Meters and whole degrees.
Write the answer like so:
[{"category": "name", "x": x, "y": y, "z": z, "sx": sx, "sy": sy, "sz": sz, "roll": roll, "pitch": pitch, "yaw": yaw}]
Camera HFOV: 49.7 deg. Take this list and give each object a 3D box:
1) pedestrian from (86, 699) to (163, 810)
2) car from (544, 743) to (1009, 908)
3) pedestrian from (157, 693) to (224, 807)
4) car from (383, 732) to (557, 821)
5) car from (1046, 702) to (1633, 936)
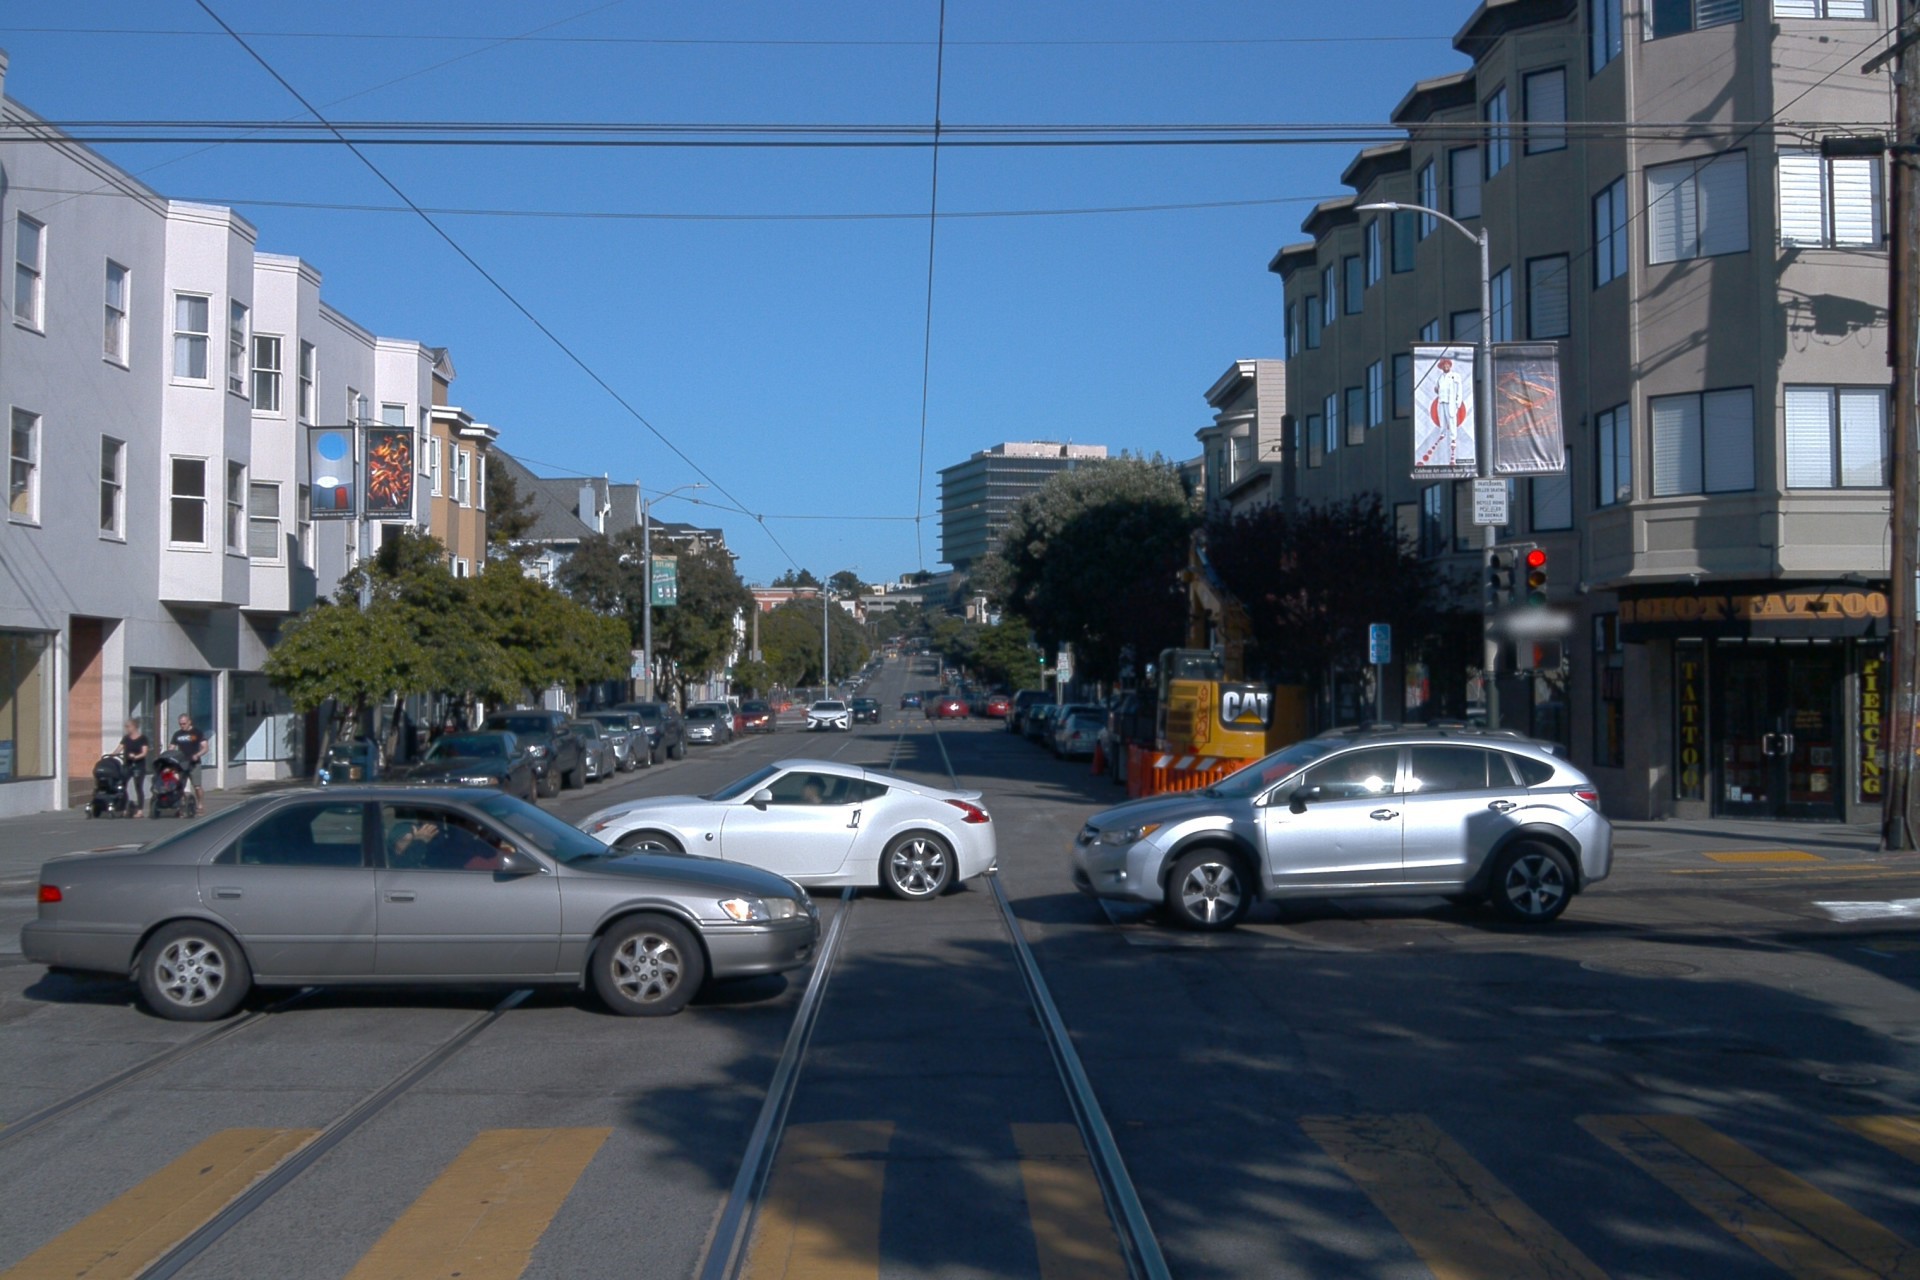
[{"category": "pedestrian", "x": -13.331, "y": 1.816, "z": 33.072, "sx": 0.837, "sy": 1.720, "sz": 1.012, "roll": 0, "pitch": 0, "yaw": -1}, {"category": "car", "x": -1.779, "y": 1.751, "z": 20.080, "sx": 4.269, "sy": 1.390, "sz": 1.994, "roll": 0, "pitch": 0, "yaw": -6}, {"category": "pedestrian", "x": -12.532, "y": 1.778, "z": 33.753, "sx": 0.768, "sy": 1.820, "sz": 0.947, "roll": 0, "pitch": 0, "yaw": -2}, {"category": "car", "x": -8.763, "y": 2.417, "z": 37.436, "sx": 2.075, "sy": 1.330, "sz": 4.407, "roll": 0, "pitch": 0, "yaw": 0}, {"category": "car", "x": 3.061, "y": 1.431, "z": 17.305, "sx": 4.468, "sy": 1.770, "sz": 1.920, "roll": 0, "pitch": 0, "yaw": -5}]
